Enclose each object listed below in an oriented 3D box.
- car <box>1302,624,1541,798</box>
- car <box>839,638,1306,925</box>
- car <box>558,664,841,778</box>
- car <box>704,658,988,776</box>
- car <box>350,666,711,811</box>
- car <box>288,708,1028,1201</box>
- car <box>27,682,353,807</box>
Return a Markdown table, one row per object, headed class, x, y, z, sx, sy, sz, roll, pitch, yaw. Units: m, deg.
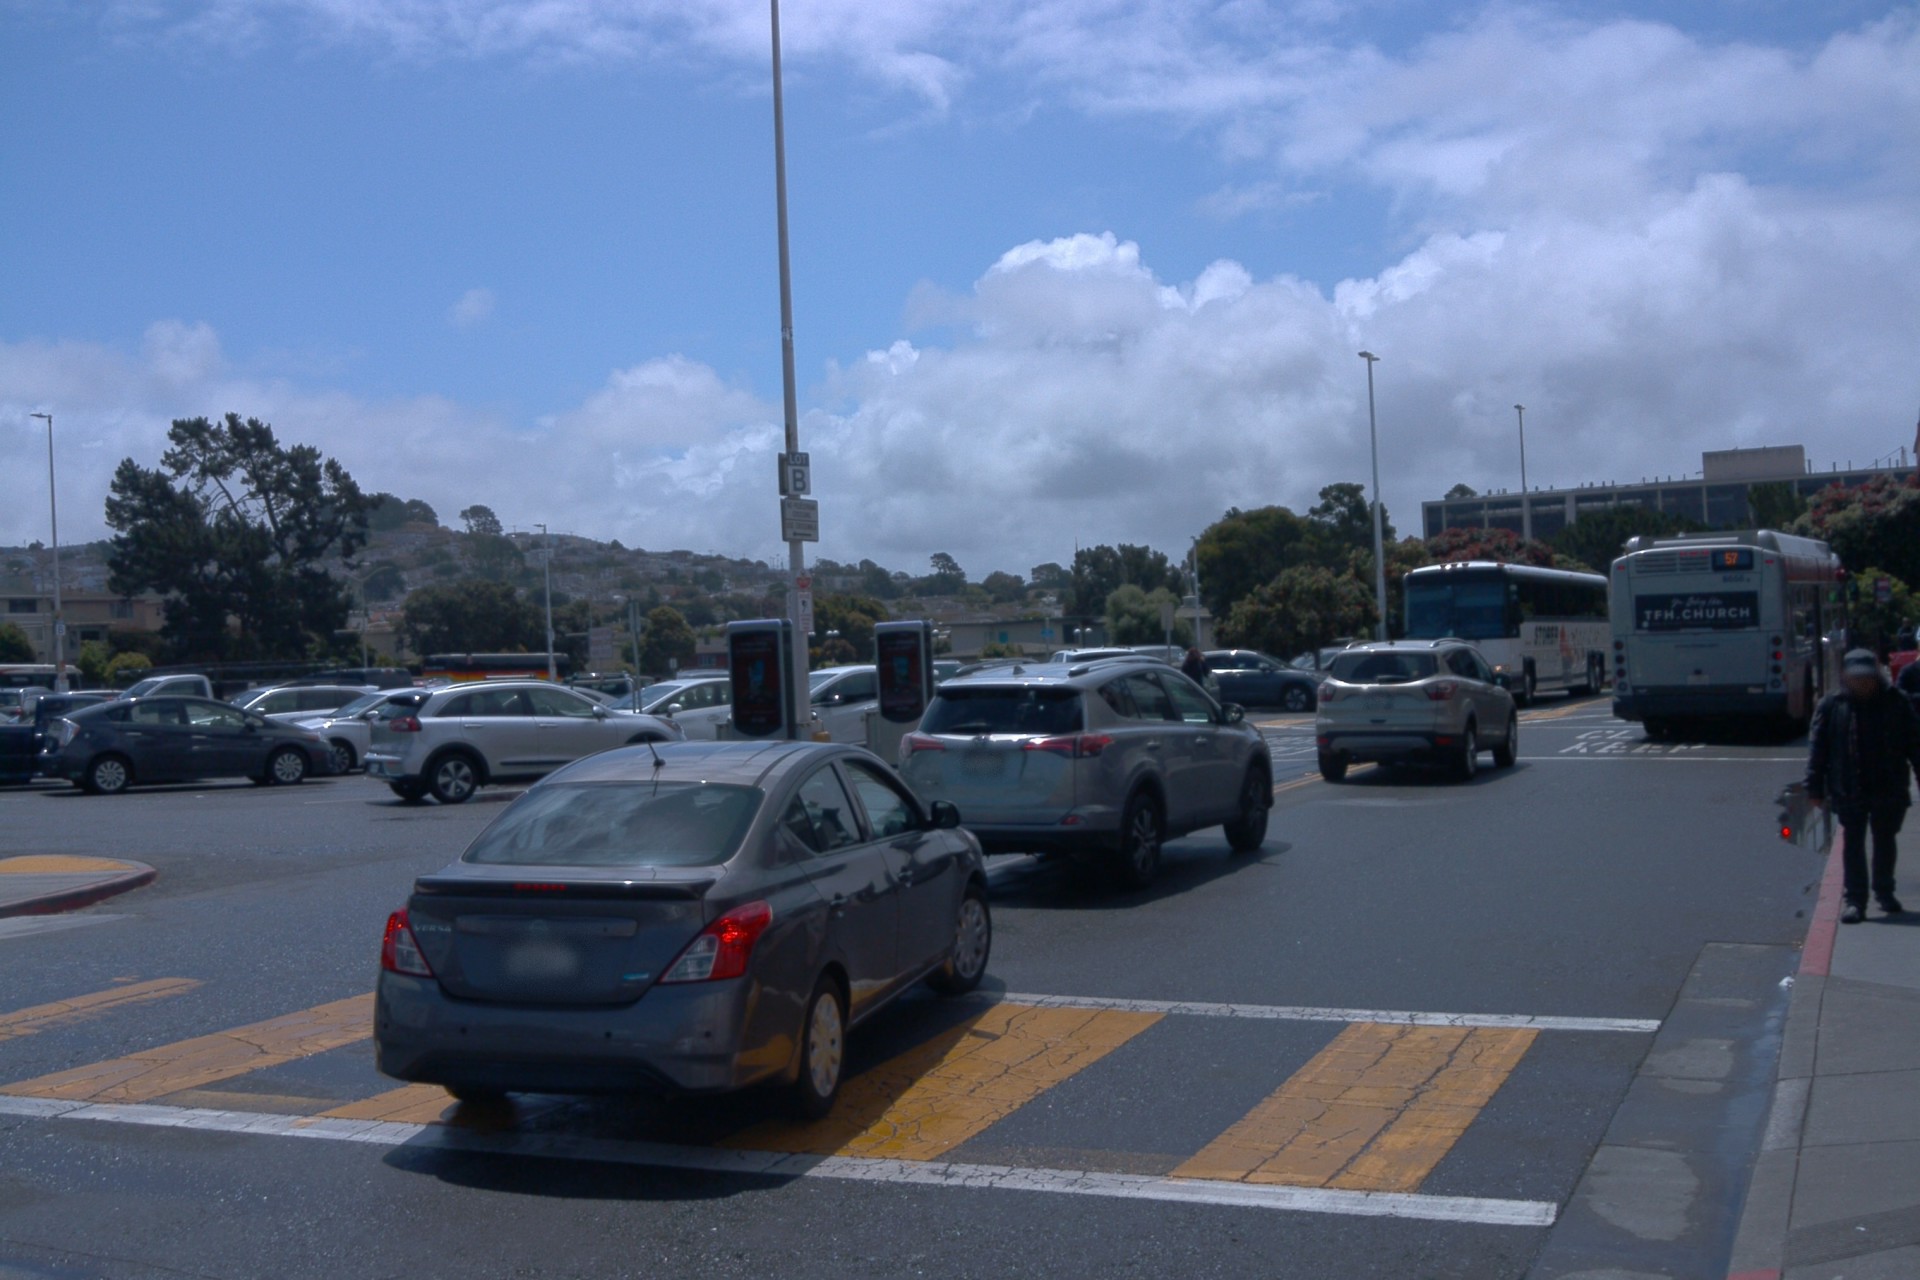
| class | x | y | z | sx | sy | sz | roll | pitch | yaw |
| --- | --- | --- | --- | --- | --- | --- | --- | --- | --- |
| car | 5.867 | 0.789 | 25.749 | 2.021 | 1.960 | 4.303 | 0 | 1 | 25 |
| car | 1.074 | 0.958 | 16.428 | 2.139 | 1.900 | 4.491 | 0 | 1 | 26 |
| car | -4.348 | 1.305 | 34.602 | 4.320 | 1.700 | 1.979 | -1 | 1 | -38 |
| car | -1.804 | 1.181 | 33.111 | 4.187 | 1.700 | 1.898 | -1 | 1 | -36 |
| car | -5.731 | 1.248 | 27.572 | 4.303 | 1.710 | 1.959 | -1 | 1 | -34 |
| car | -1.104 | 1.206 | 9.690 | 1.945 | 1.580 | 4.218 | 0 | 1 | 15 |
| car | -12.019 | 1.571 | 32.167 | 4.424 | 1.710 | 2.063 | -1 | 1 | -33 |
